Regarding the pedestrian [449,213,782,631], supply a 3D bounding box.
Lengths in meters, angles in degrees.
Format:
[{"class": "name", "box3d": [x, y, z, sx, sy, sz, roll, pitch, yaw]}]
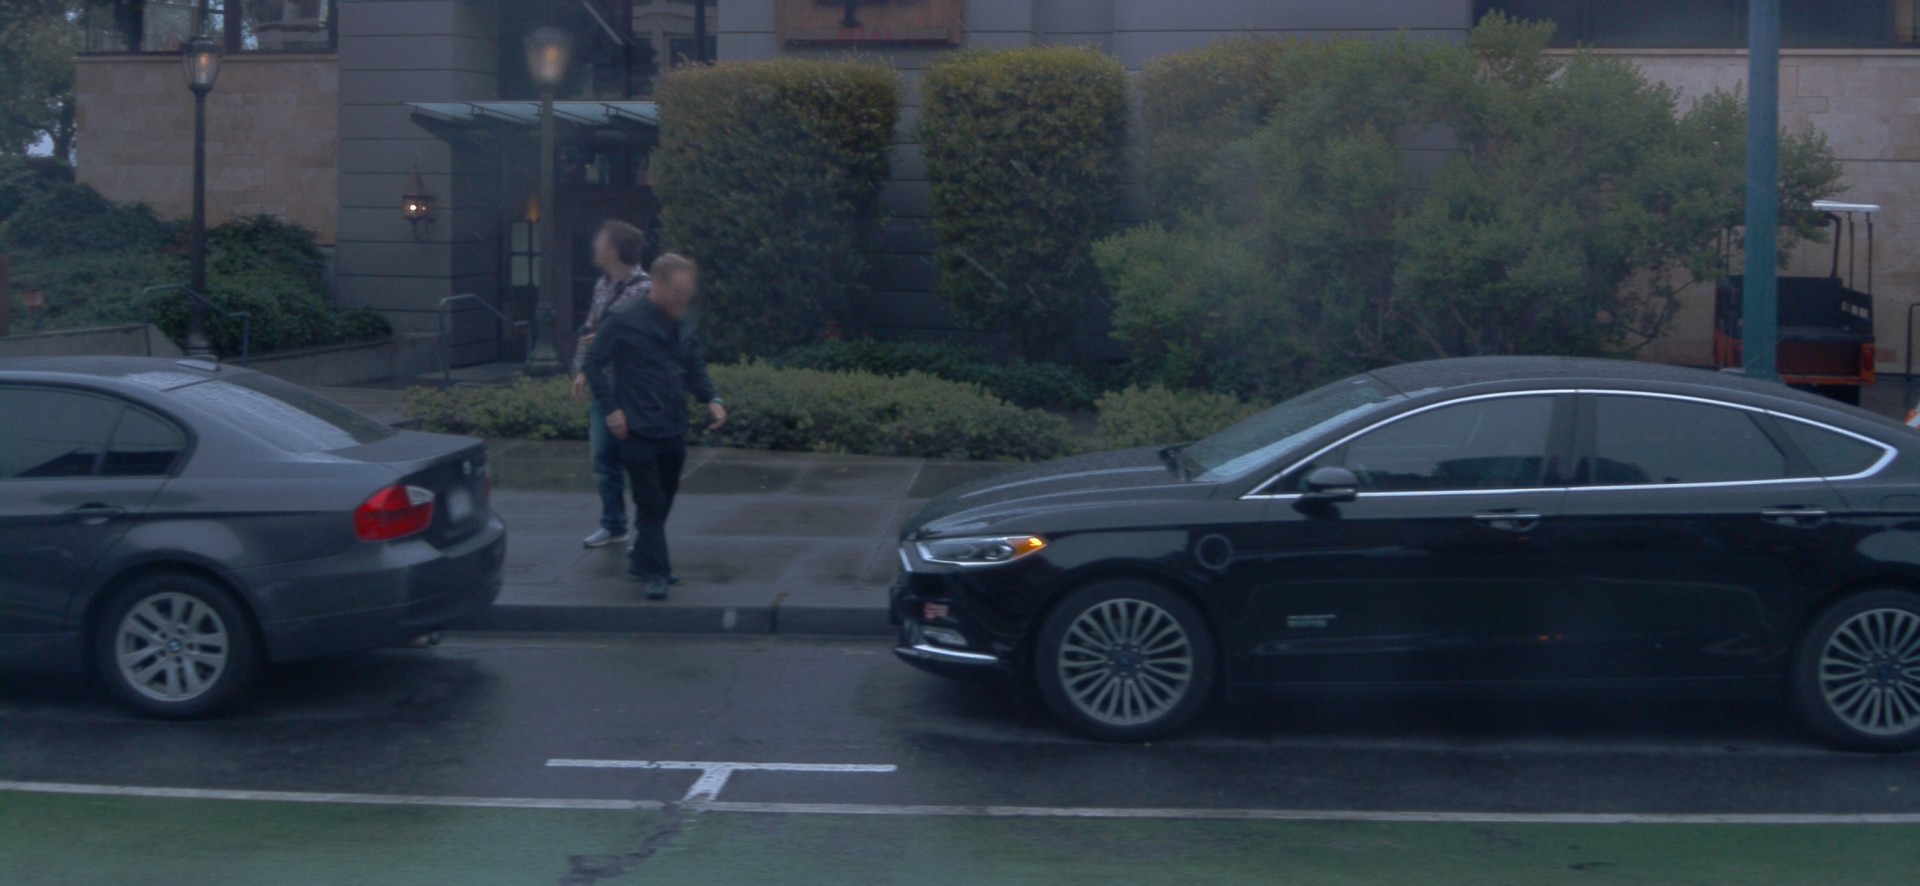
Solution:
[{"class": "pedestrian", "box3d": [-1.723, -0.184, 10.416, 1.044, 1.936, 1.279, 2, 3, 39]}]

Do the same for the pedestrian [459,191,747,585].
[{"class": "pedestrian", "box3d": [-1.973, -0.368, 11.500, 1.151, 2.047, 1.069, 1, 2, 30]}]
